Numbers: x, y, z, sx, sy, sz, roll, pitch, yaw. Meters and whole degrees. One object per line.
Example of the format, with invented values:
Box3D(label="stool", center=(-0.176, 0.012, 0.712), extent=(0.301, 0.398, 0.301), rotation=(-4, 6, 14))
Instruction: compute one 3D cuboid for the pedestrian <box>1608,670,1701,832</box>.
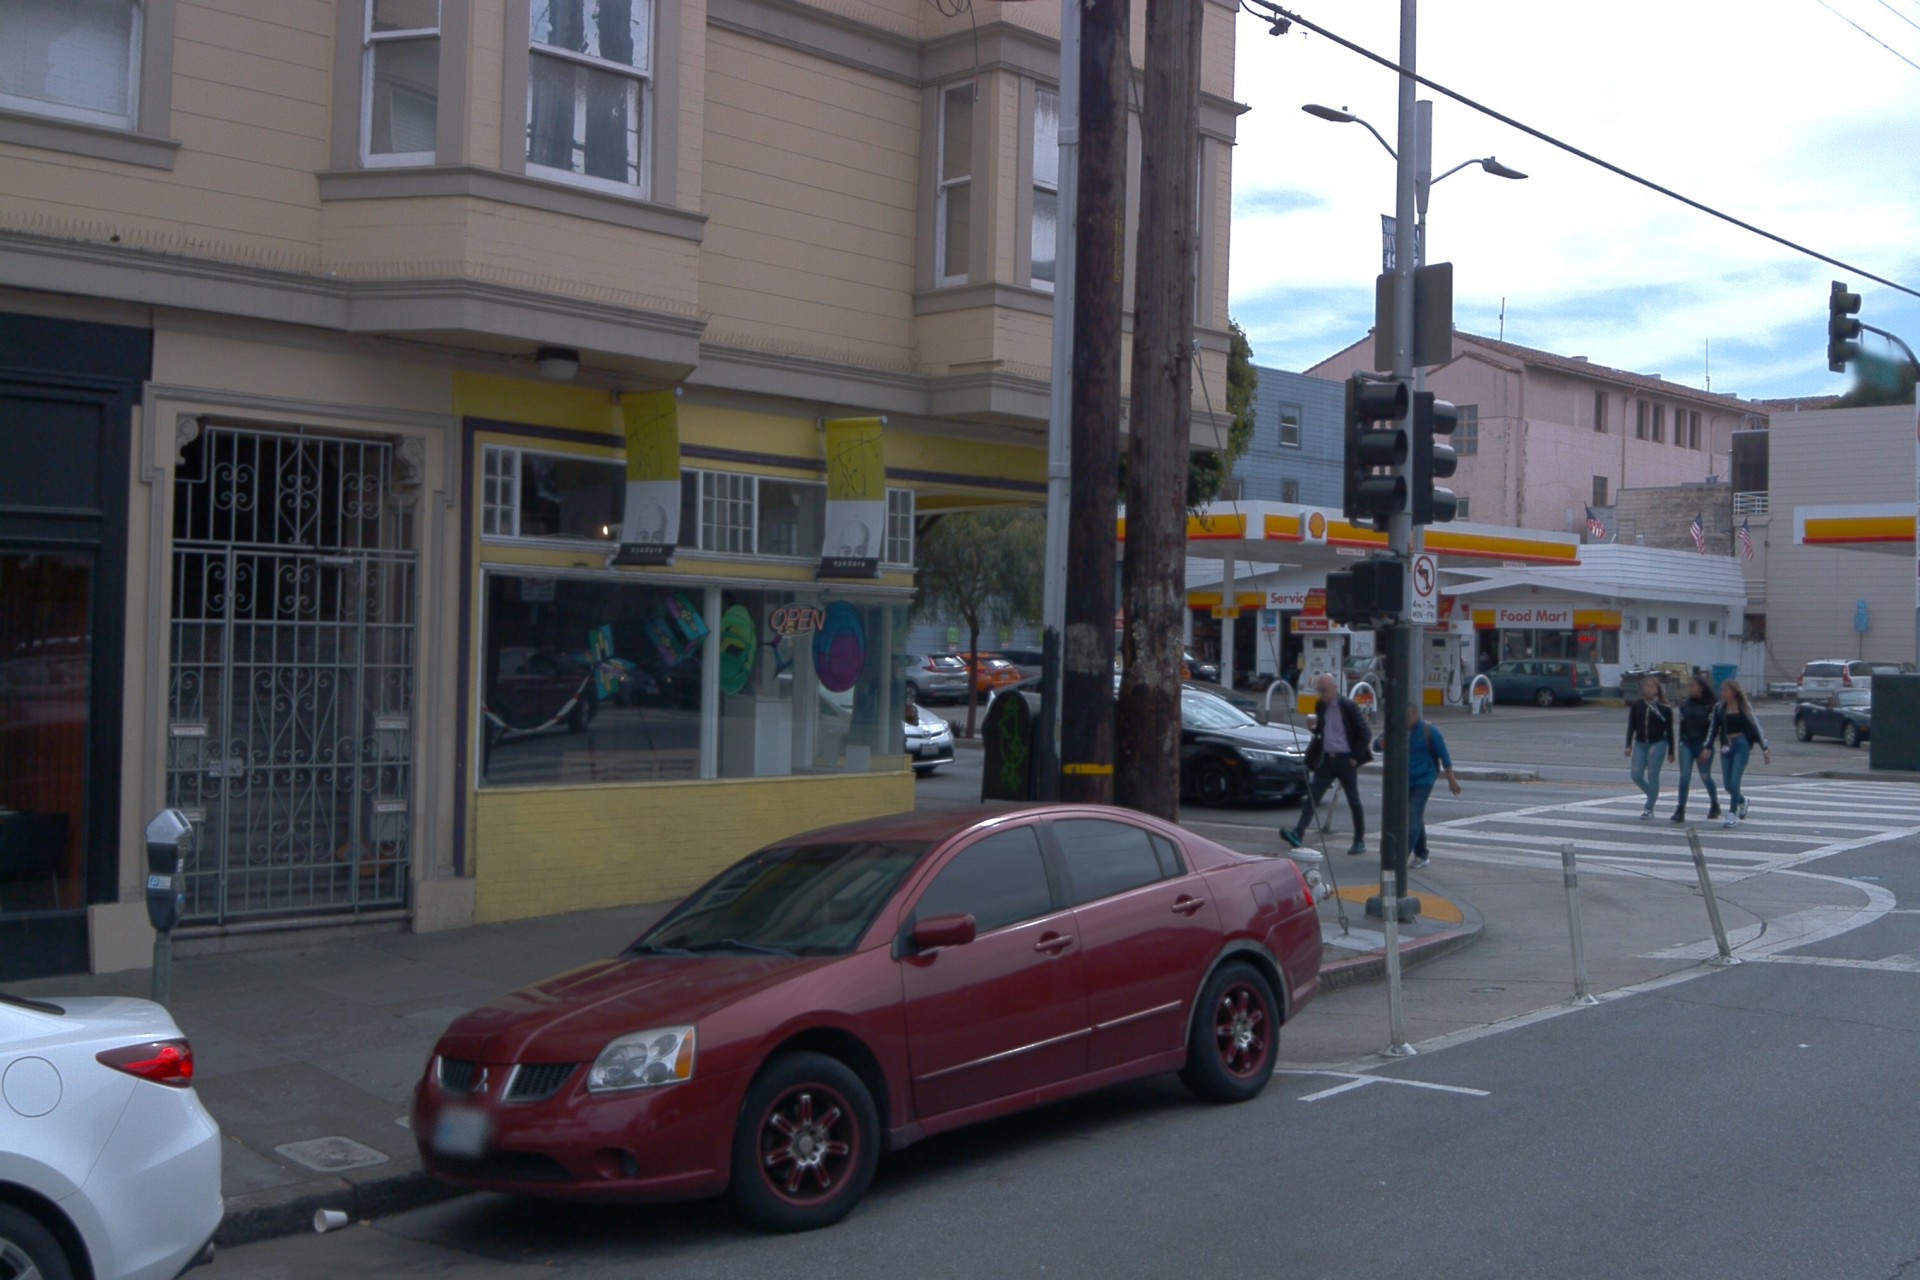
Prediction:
Box3D(label="pedestrian", center=(7.825, 1.227, 23.234), extent=(0.702, 1.740, 0.838), rotation=(1, 1, 43))

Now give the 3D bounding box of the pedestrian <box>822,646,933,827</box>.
Box3D(label="pedestrian", center=(-0.877, 0.996, 21.847), extent=(0.764, 1.840, 0.918), rotation=(-1, 1, -39))

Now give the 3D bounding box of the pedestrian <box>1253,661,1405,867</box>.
Box3D(label="pedestrian", center=(3.571, 1.166, 19.964), extent=(1.105, 1.876, 0.998), rotation=(-1, 1, -45))

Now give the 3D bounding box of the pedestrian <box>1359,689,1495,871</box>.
Box3D(label="pedestrian", center=(4.323, 1.269, 19.097), extent=(1.055, 1.580, 0.778), rotation=(-1, 1, -45))

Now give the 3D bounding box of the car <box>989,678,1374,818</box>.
Box3D(label="car", center=(2.710, 1.281, 25.993), extent=(4.472, 1.430, 2.124), rotation=(1, 1, 45))

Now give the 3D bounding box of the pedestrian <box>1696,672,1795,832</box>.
Box3D(label="pedestrian", center=(8.500, 1.195, 22.327), extent=(0.729, 1.650, 0.814), rotation=(1, 1, 44))

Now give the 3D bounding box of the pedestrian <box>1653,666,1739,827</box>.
Box3D(label="pedestrian", center=(8.142, 1.158, 22.830), extent=(0.606, 1.710, 0.816), rotation=(1, 1, 44))

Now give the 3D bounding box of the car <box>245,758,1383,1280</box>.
Box3D(label="car", center=(-0.336, 1.457, 9.078), extent=(2.087, 1.500, 4.896), rotation=(1, 1, 42))

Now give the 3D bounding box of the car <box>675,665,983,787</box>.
Box3D(label="car", center=(-2.012, 1.218, 30.734), extent=(4.519, 1.540, 2.106), rotation=(1, 1, 45))
